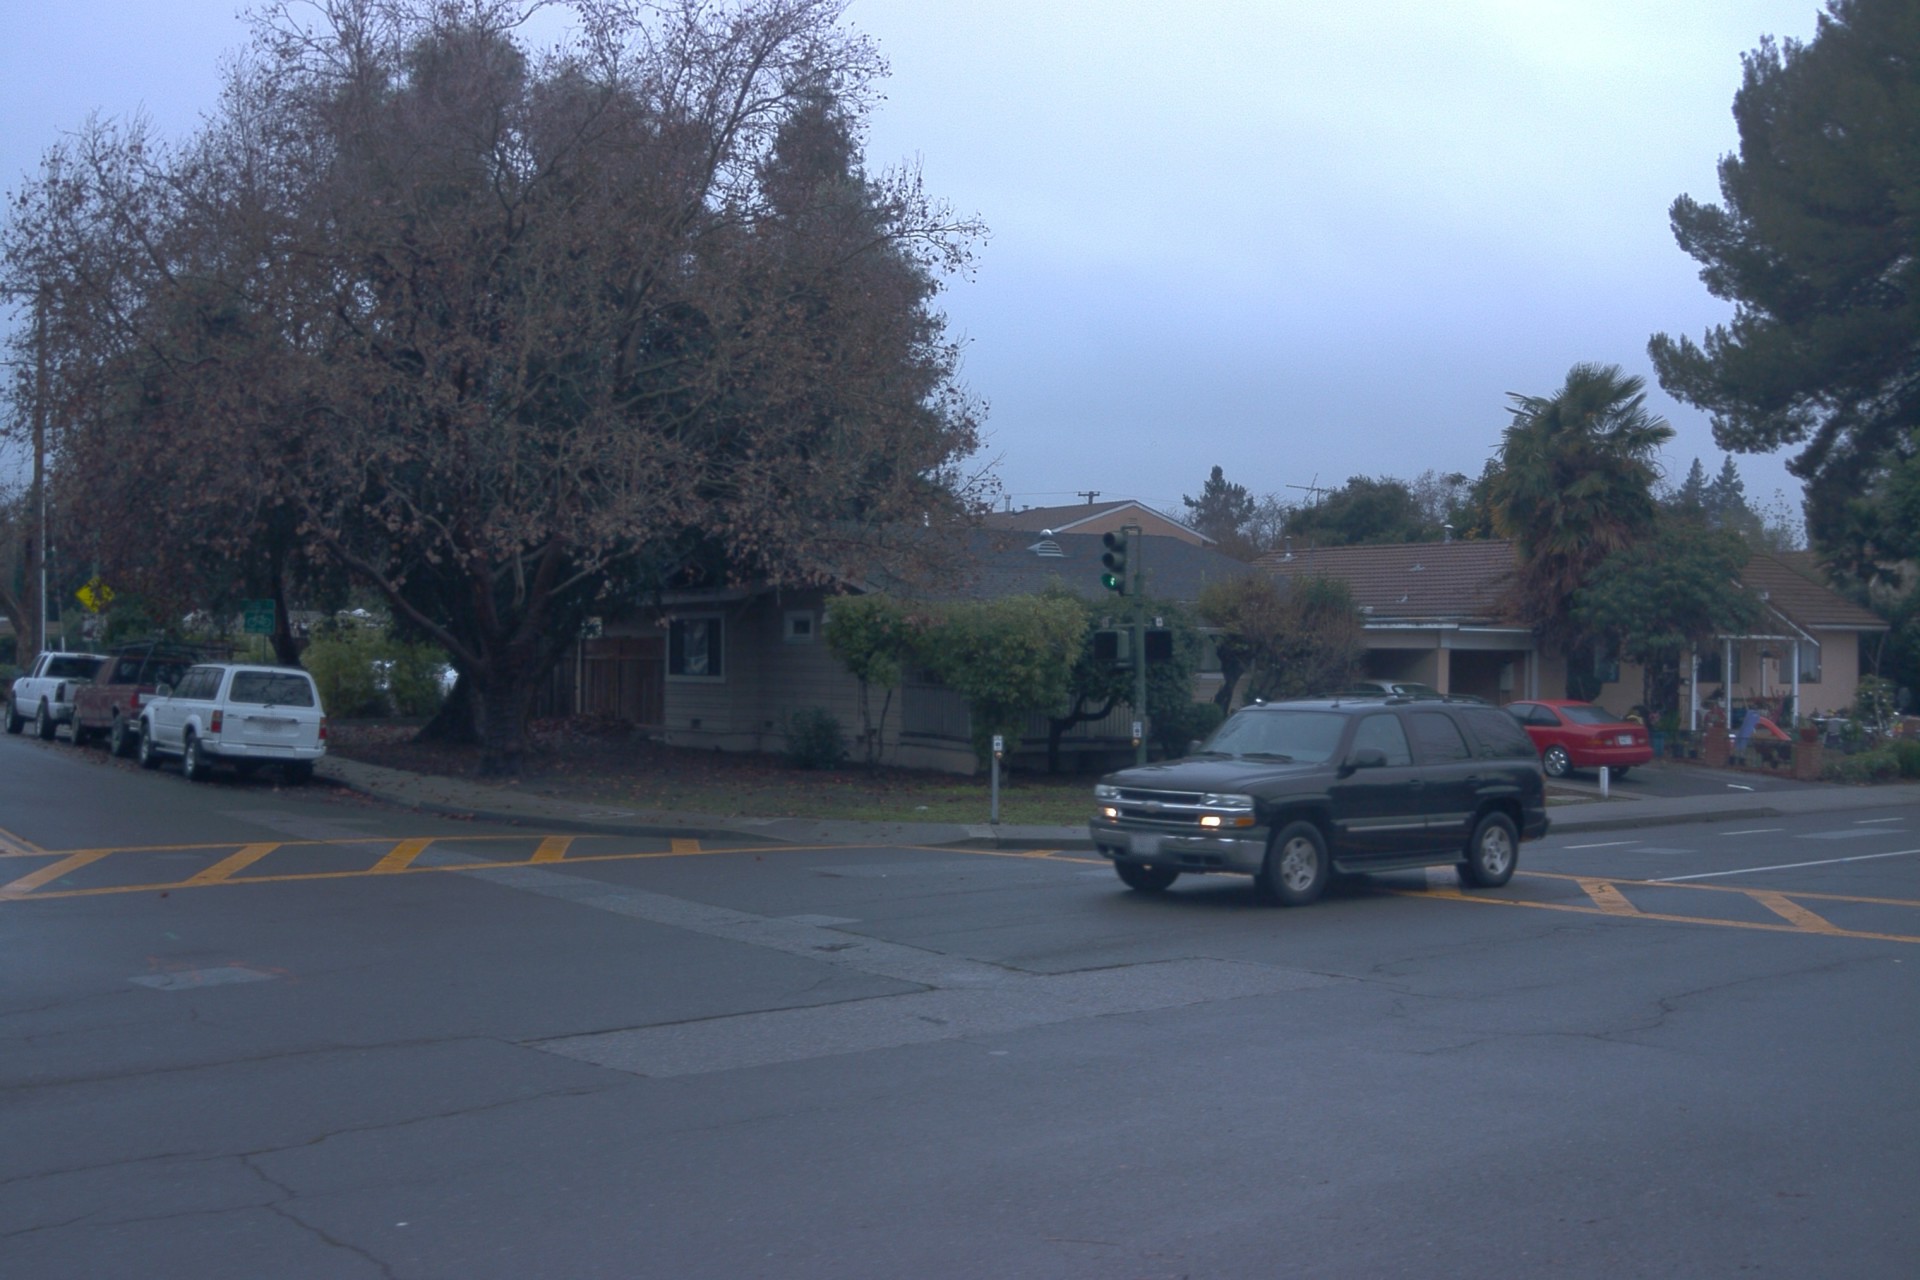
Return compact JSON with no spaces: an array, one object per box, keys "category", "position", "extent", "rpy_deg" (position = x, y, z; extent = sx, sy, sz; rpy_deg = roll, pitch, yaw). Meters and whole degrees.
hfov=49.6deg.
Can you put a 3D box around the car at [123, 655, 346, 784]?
[{"category":"car","position":[-11.845,1.212,33.738],"extent":[2.204,1.930,4.675],"rpy_deg":[0,0,-35]}]

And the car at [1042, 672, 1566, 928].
[{"category":"car","position":[3.383,1.364,19.760],"extent":[5.097,2.060,2.265],"rpy_deg":[0,0,-43]}]
